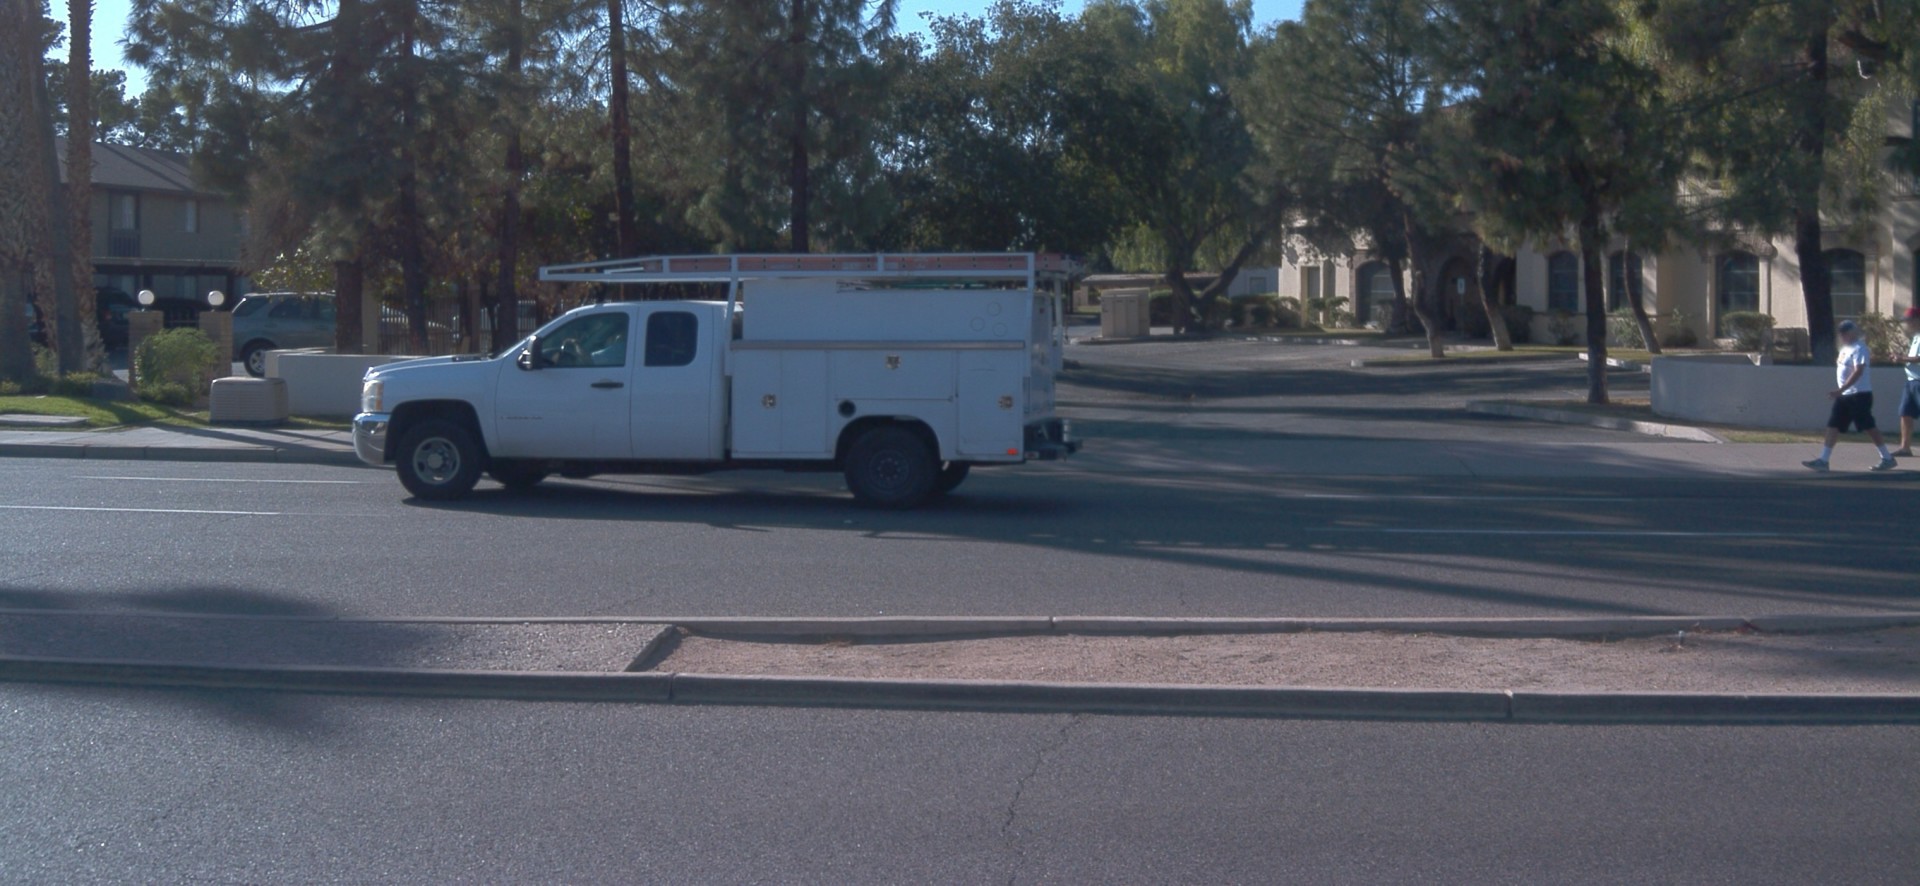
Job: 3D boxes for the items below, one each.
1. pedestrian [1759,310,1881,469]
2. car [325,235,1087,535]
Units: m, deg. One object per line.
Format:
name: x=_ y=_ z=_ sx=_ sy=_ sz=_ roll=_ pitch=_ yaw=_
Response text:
pedestrian: x=9.889 y=-0.634 z=23.918 sx=1.000 sy=1.747 sz=1.004 roll=0 pitch=2 yaw=2
car: x=-2.256 y=-0.674 z=19.510 sx=6.581 sy=2.483 sz=2.644 roll=1 pitch=4 yaw=10
